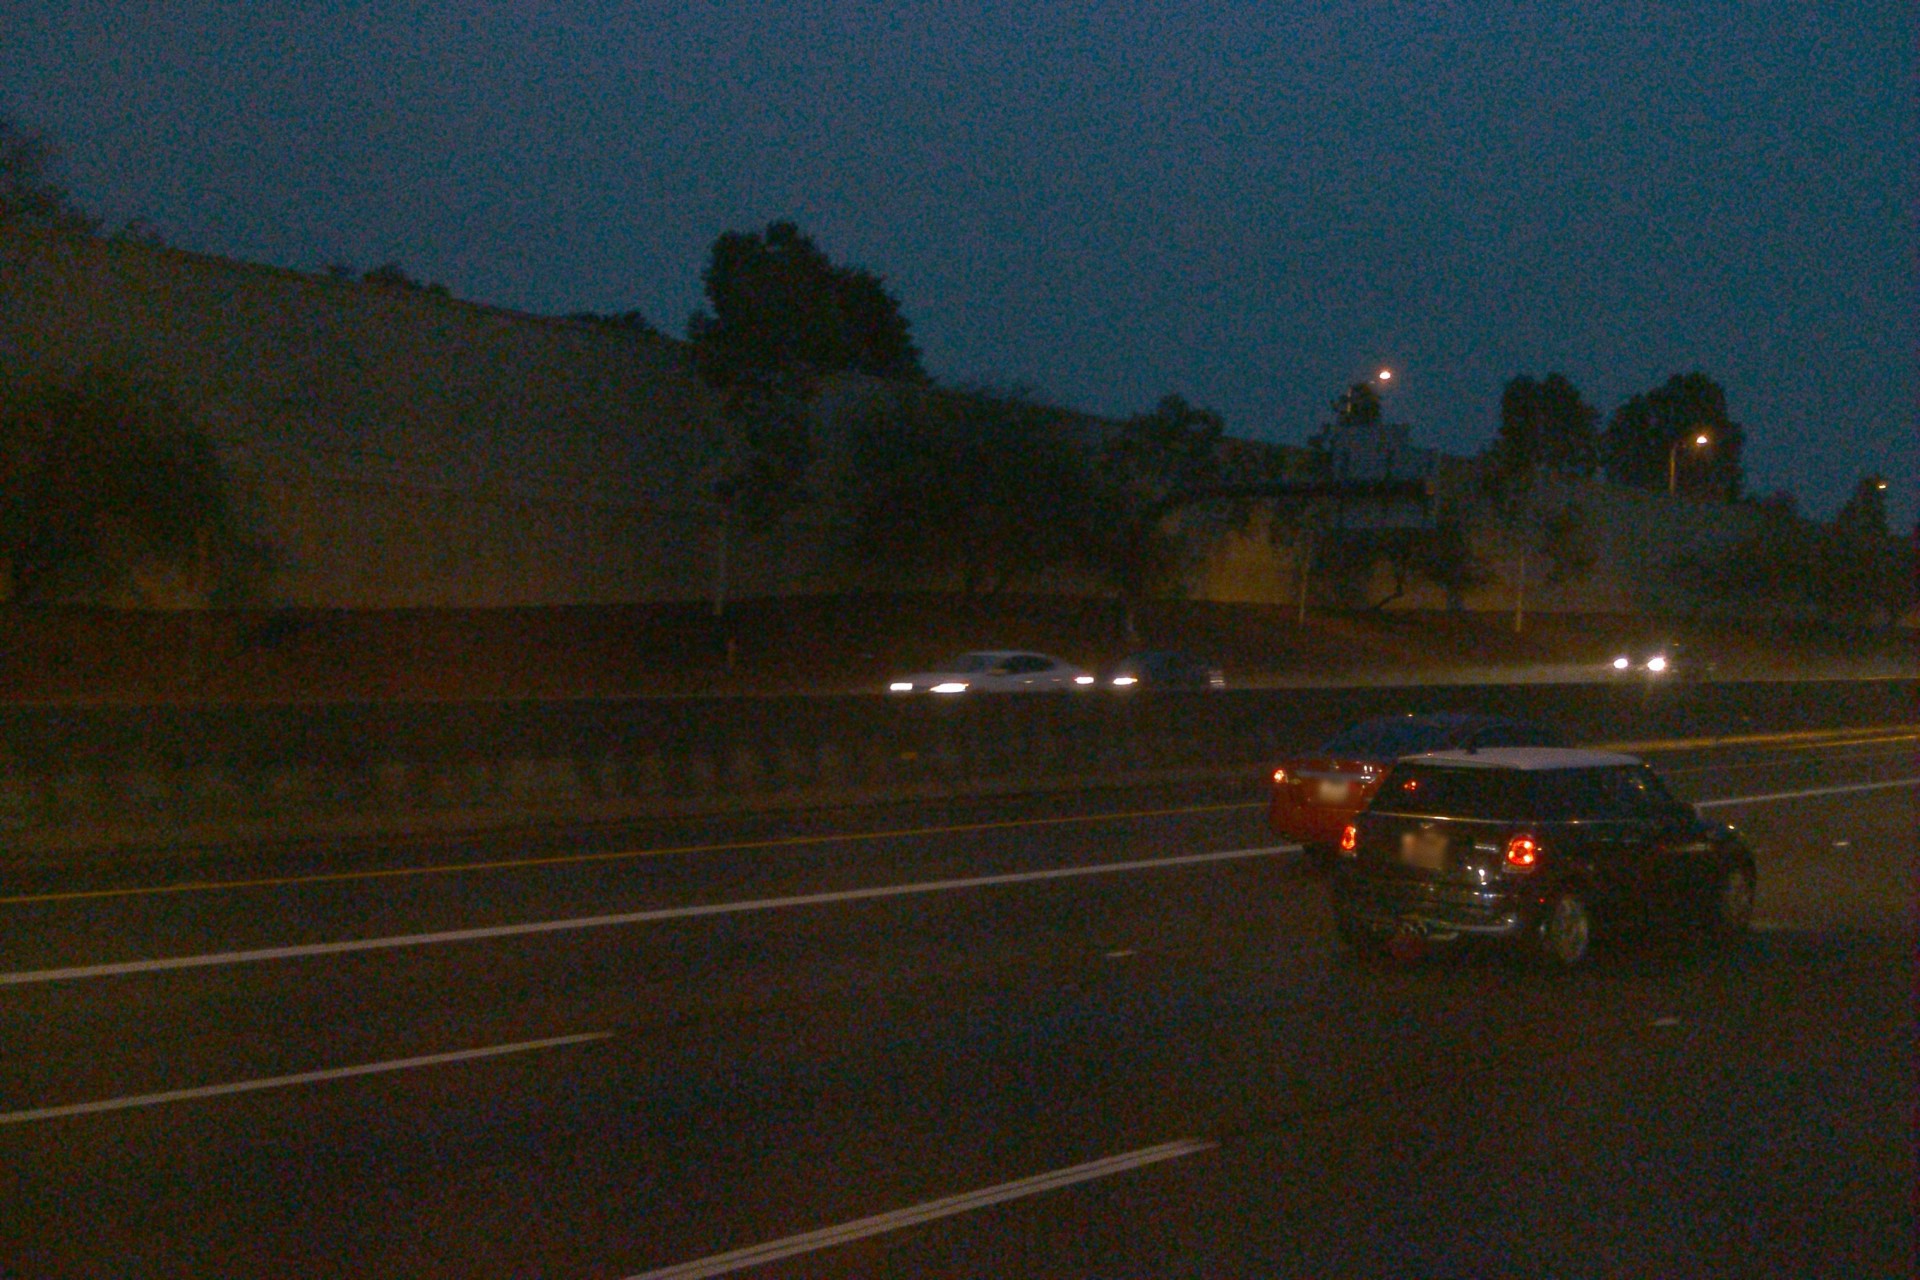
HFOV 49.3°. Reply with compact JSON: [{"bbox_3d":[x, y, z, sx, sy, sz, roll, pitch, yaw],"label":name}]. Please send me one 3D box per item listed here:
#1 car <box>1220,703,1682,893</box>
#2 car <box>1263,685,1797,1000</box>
[{"bbox_3d":[4.974,1.450,20.693,2.093,1.540,5.041,1,0,45],"label":"car"},{"bbox_3d":[4.155,1.284,14.893,1.926,1.870,3.975,1,0,45],"label":"car"}]
